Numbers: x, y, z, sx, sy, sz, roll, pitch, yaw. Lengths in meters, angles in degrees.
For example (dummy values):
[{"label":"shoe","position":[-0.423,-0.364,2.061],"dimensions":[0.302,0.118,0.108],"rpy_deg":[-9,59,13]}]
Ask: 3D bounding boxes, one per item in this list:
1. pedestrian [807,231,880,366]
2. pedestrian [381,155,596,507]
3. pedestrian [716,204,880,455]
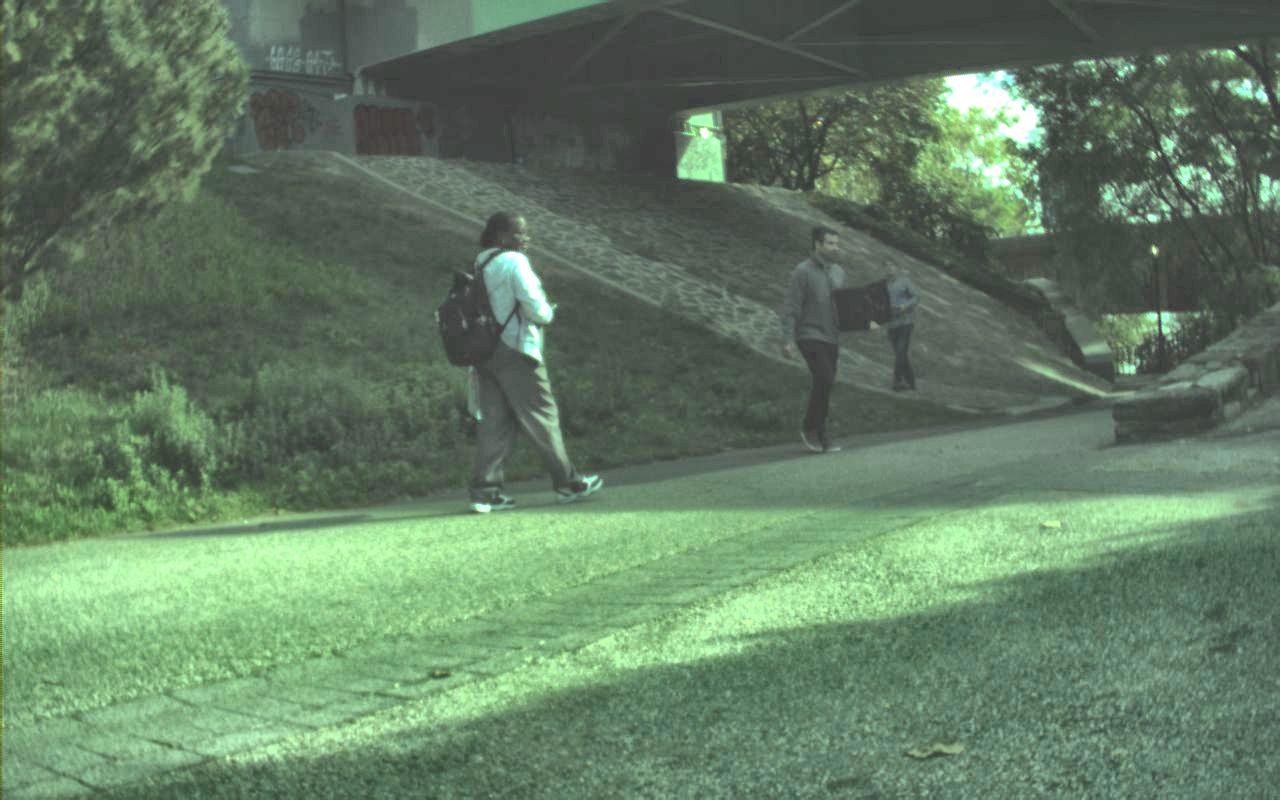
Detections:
[{"label":"pedestrian","position":[2.740,-1.338,16.856],"dimensions":[0.766,1.771,0.734],"rpy_deg":[0,0,-14]},{"label":"pedestrian","position":[-0.856,-0.366,6.940],"dimensions":[0.914,1.796,0.821],"rpy_deg":[0,0,-35]},{"label":"pedestrian","position":[1.215,-0.521,9.619],"dimensions":[0.857,1.802,0.927],"rpy_deg":[0,0,-43]}]
